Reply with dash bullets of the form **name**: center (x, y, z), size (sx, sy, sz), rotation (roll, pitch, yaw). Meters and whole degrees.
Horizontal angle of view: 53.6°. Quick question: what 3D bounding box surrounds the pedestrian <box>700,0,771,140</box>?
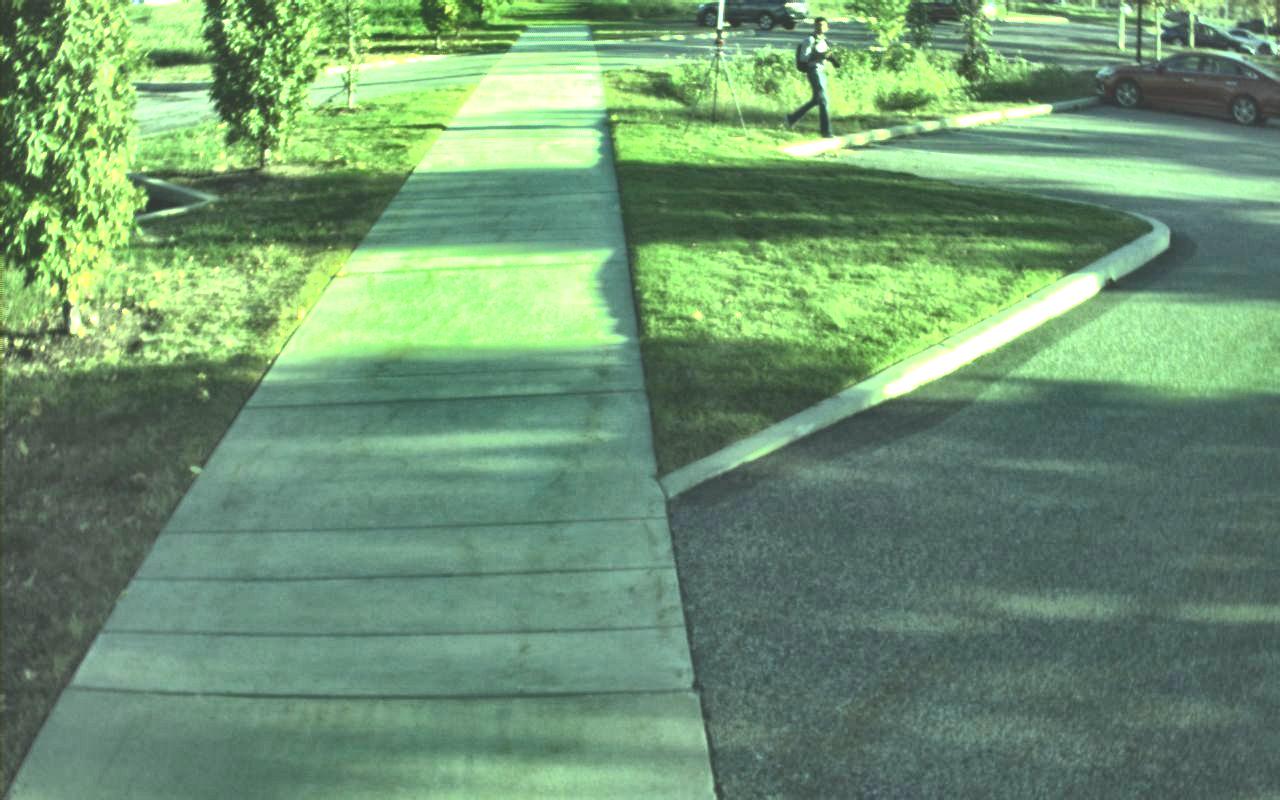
- **pedestrian**: center (1.291, -4.430, 16.558), size (0.827, 1.852, 0.782), rotation (2, 15, 12)

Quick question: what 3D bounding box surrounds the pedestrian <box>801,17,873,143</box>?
- **pedestrian**: center (2.779, -4.503, 17.225), size (0.846, 1.745, 0.785), rotation (5, 15, 21)

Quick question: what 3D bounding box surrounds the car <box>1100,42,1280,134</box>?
- **car**: center (12.418, -6.766, 24.551), size (4.690, 1.590, 1.993), rotation (12, 20, 40)
